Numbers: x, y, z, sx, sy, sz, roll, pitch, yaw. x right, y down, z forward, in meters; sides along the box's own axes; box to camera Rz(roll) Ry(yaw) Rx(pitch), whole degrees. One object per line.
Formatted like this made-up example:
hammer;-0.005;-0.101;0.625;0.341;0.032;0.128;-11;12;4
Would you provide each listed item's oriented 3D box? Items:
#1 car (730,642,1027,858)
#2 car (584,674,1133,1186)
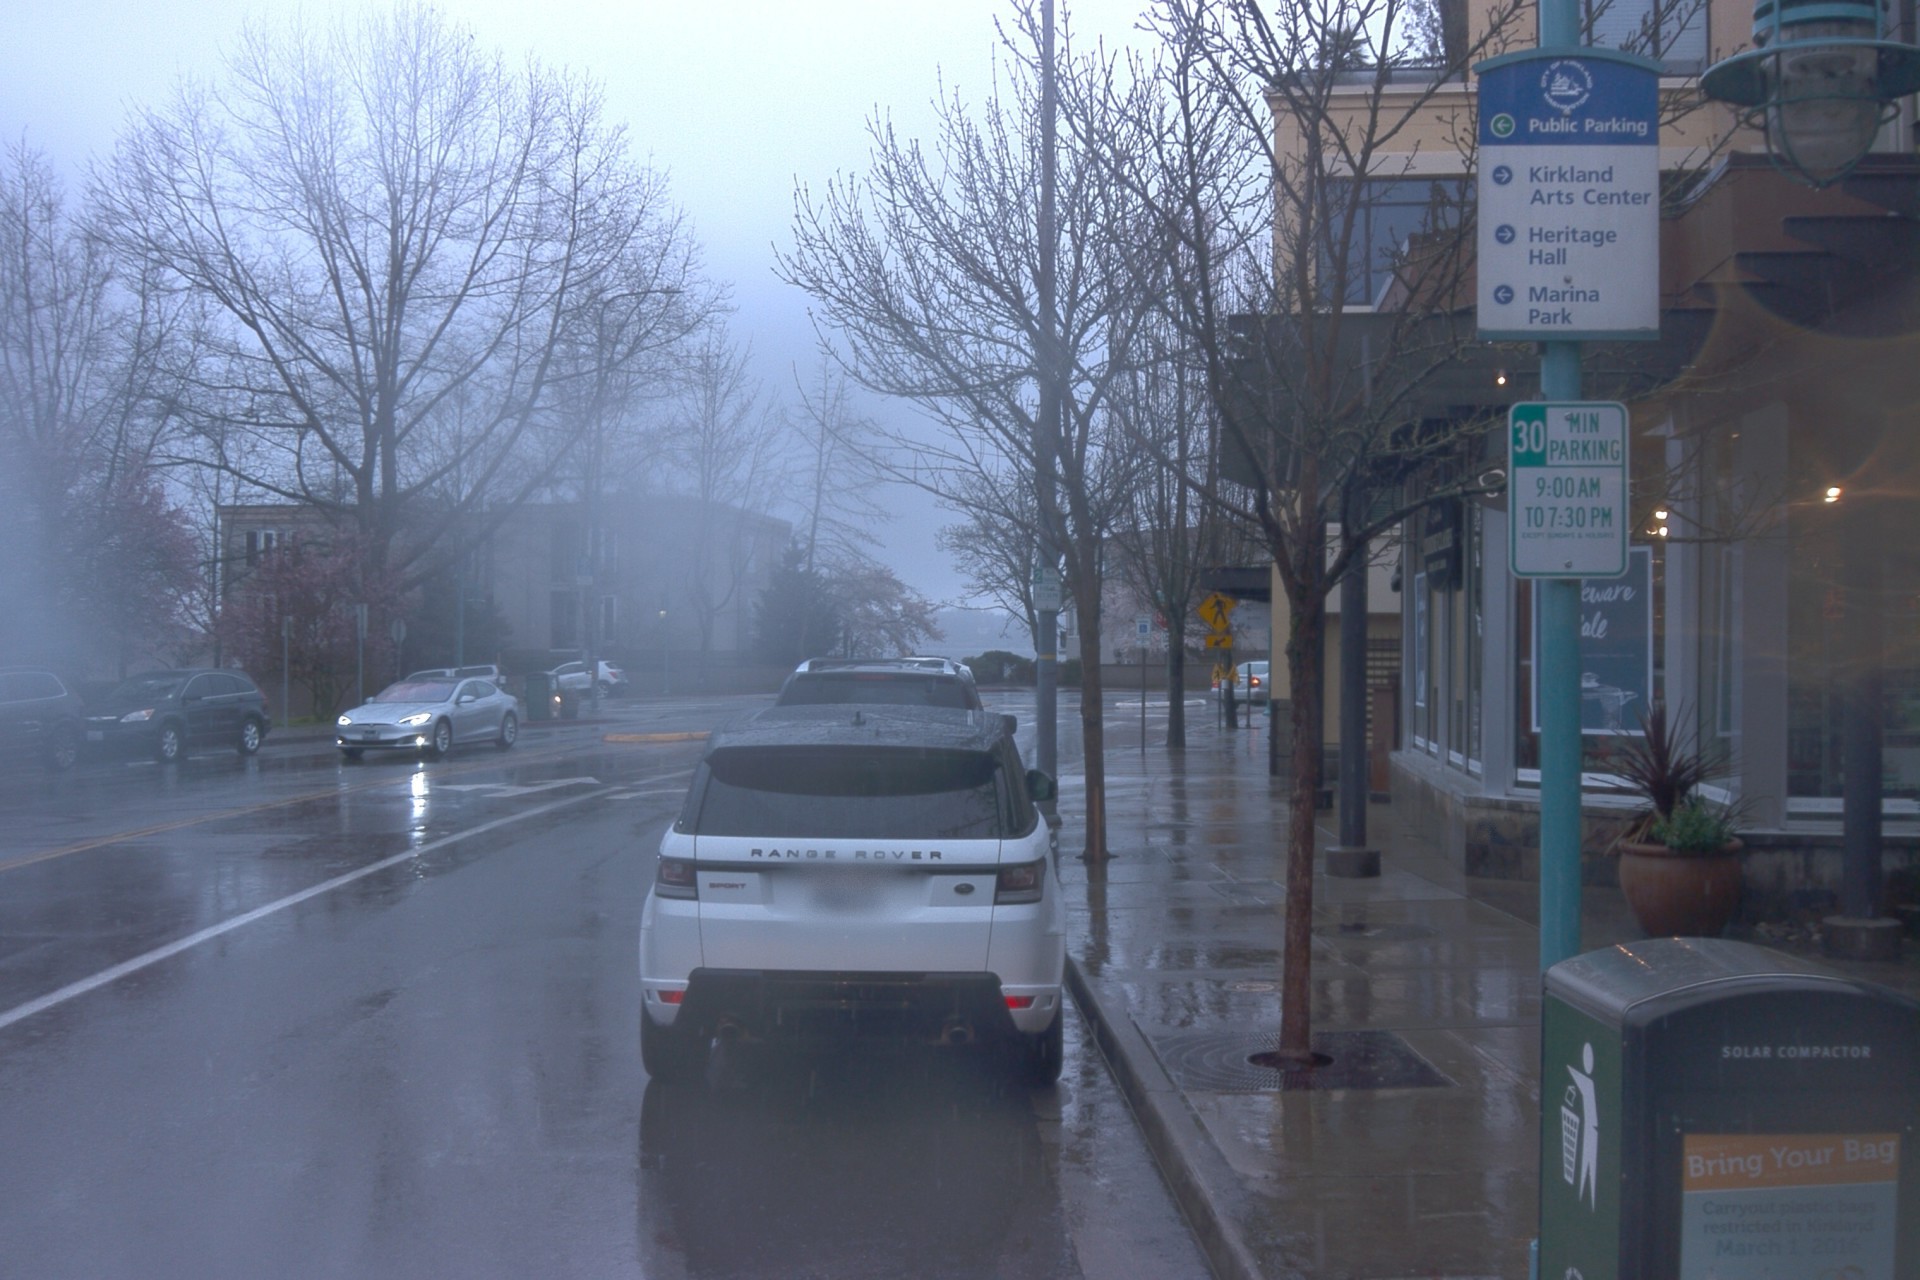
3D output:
car;-0.712;0.836;17.956;2.210;1.560;5.097;1;0;-2
car;-0.519;1.263;11.129;2.265;2.000;5.125;1;0;-2
